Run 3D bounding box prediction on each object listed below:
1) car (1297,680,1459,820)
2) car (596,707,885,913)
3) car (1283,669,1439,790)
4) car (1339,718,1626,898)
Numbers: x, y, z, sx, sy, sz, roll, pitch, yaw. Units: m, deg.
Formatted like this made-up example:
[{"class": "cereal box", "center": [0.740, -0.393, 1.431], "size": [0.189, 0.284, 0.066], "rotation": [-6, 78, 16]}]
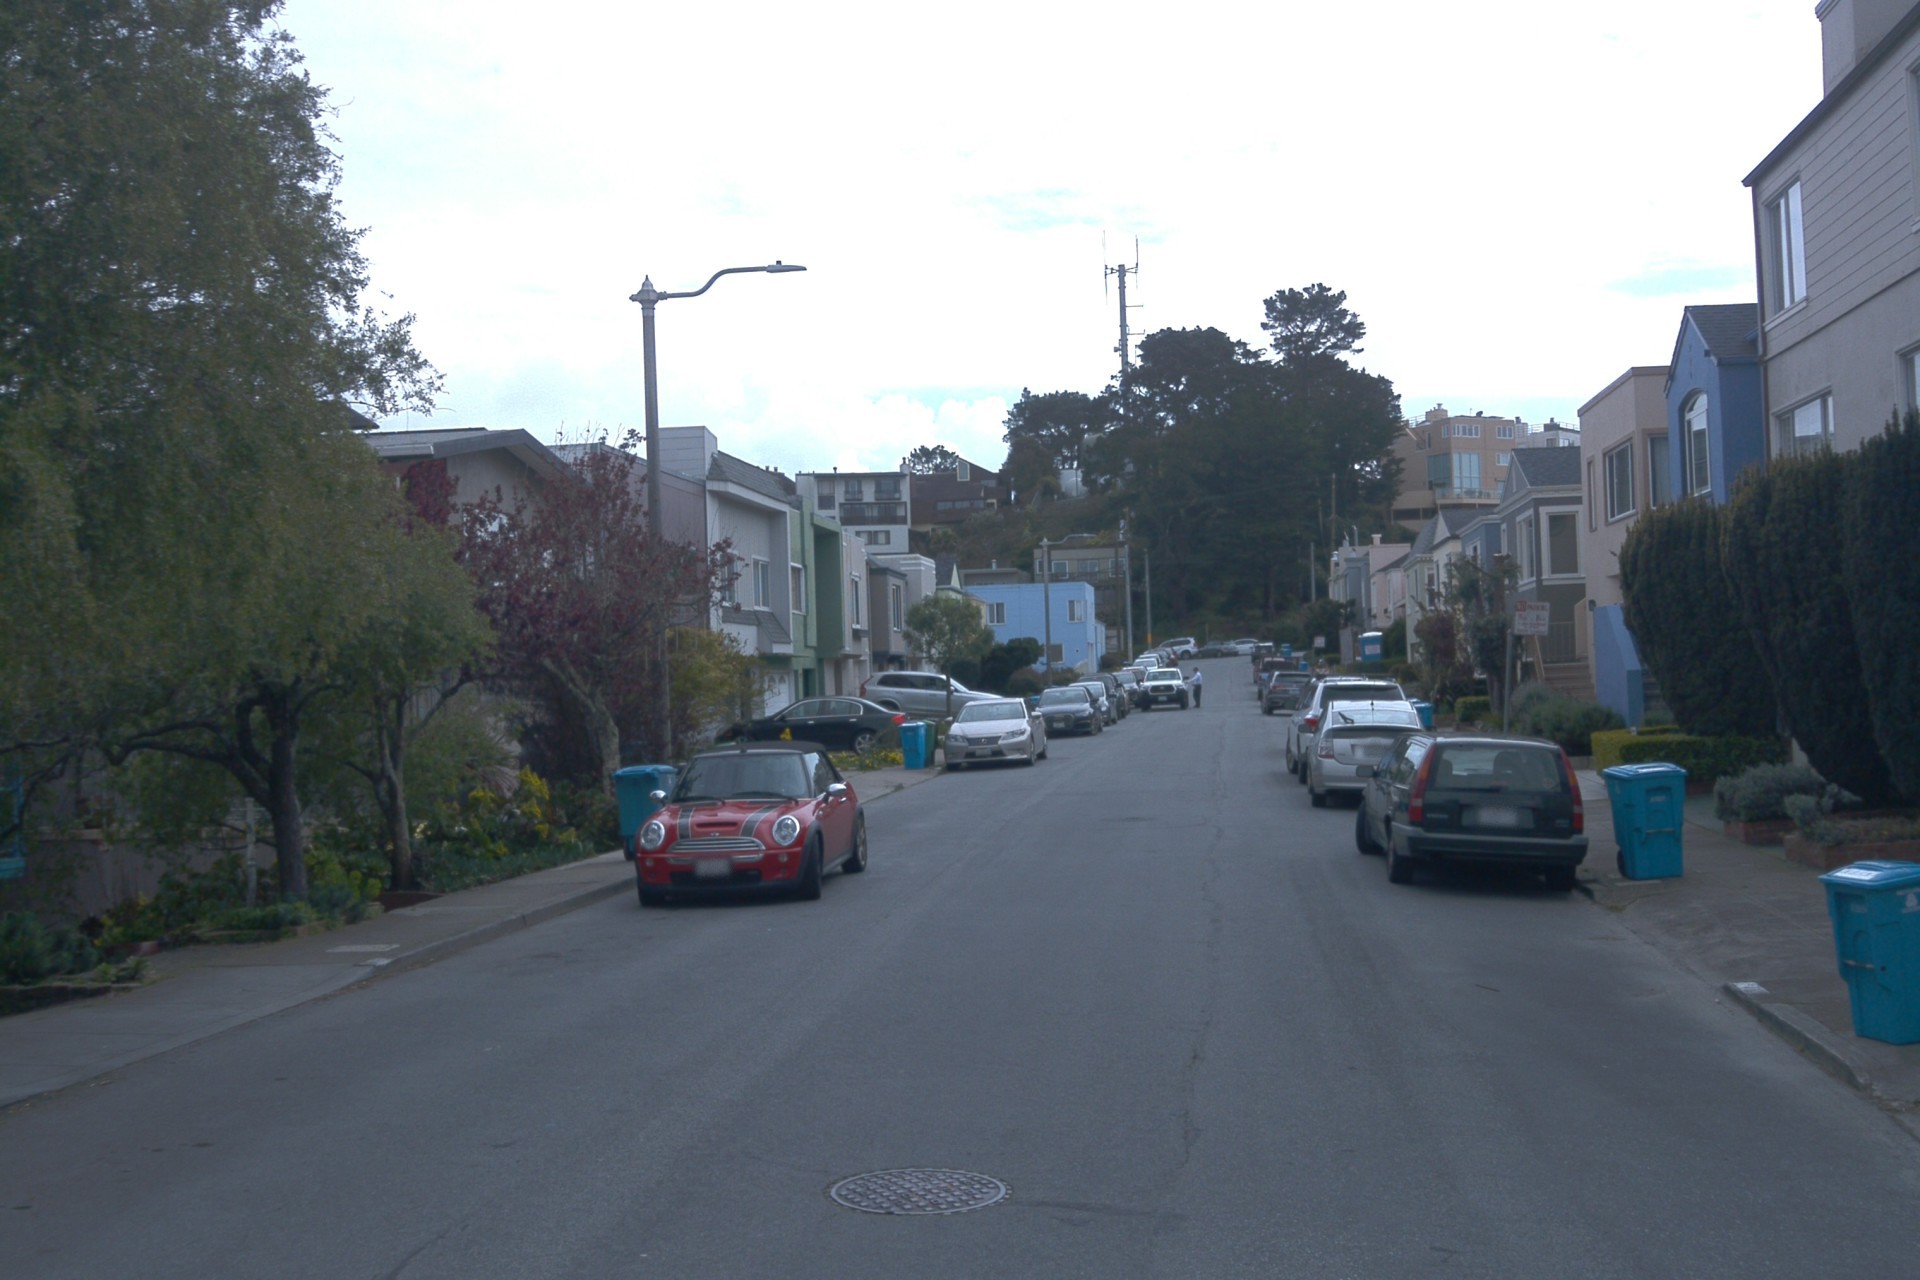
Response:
[{"class": "car", "center": [5.944, 1.509, 29.937], "size": [2.088, 1.790, 4.604], "rotation": [0, 0, 9]}, {"class": "car", "center": [-1.988, 1.537, 19.953], "size": [1.994, 1.670, 3.839], "rotation": [0, 0, 6]}, {"class": "car", "center": [6.686, 1.435, 35.042], "size": [2.207, 1.850, 5.026], "rotation": [0, 0, 6]}, {"class": "car", "center": [5.049, 1.566, 20.691], "size": [2.070, 1.420, 4.833], "rotation": [0, 0, 6]}]
